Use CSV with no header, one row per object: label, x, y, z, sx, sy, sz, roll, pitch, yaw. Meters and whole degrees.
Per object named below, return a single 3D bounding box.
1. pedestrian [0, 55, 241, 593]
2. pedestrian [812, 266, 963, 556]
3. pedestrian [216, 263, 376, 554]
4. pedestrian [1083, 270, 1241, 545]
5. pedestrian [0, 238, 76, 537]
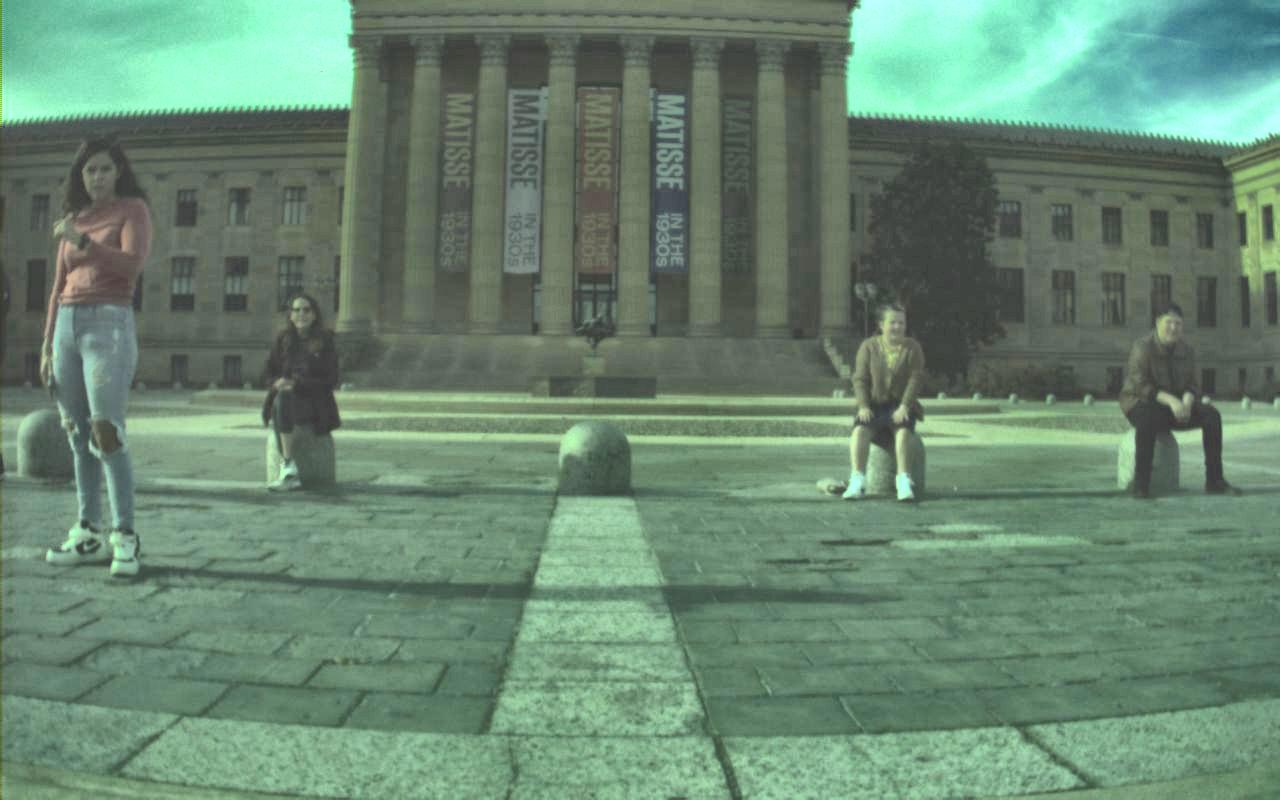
pedestrian,-1.970,-0.257,4.175,0.772,1.758,0.780,0,0,8
pedestrian,1.556,0.066,7.903,0.822,1.744,0.826,0,0,1
pedestrian,-2.189,0.046,7.765,0.834,1.740,0.838,0,0,2
pedestrian,3.492,0.055,7.849,0.833,1.731,0.840,0,0,-1
pedestrian,-4.014,-0.060,7.122,0.857,1.814,0.835,0,0,-27
